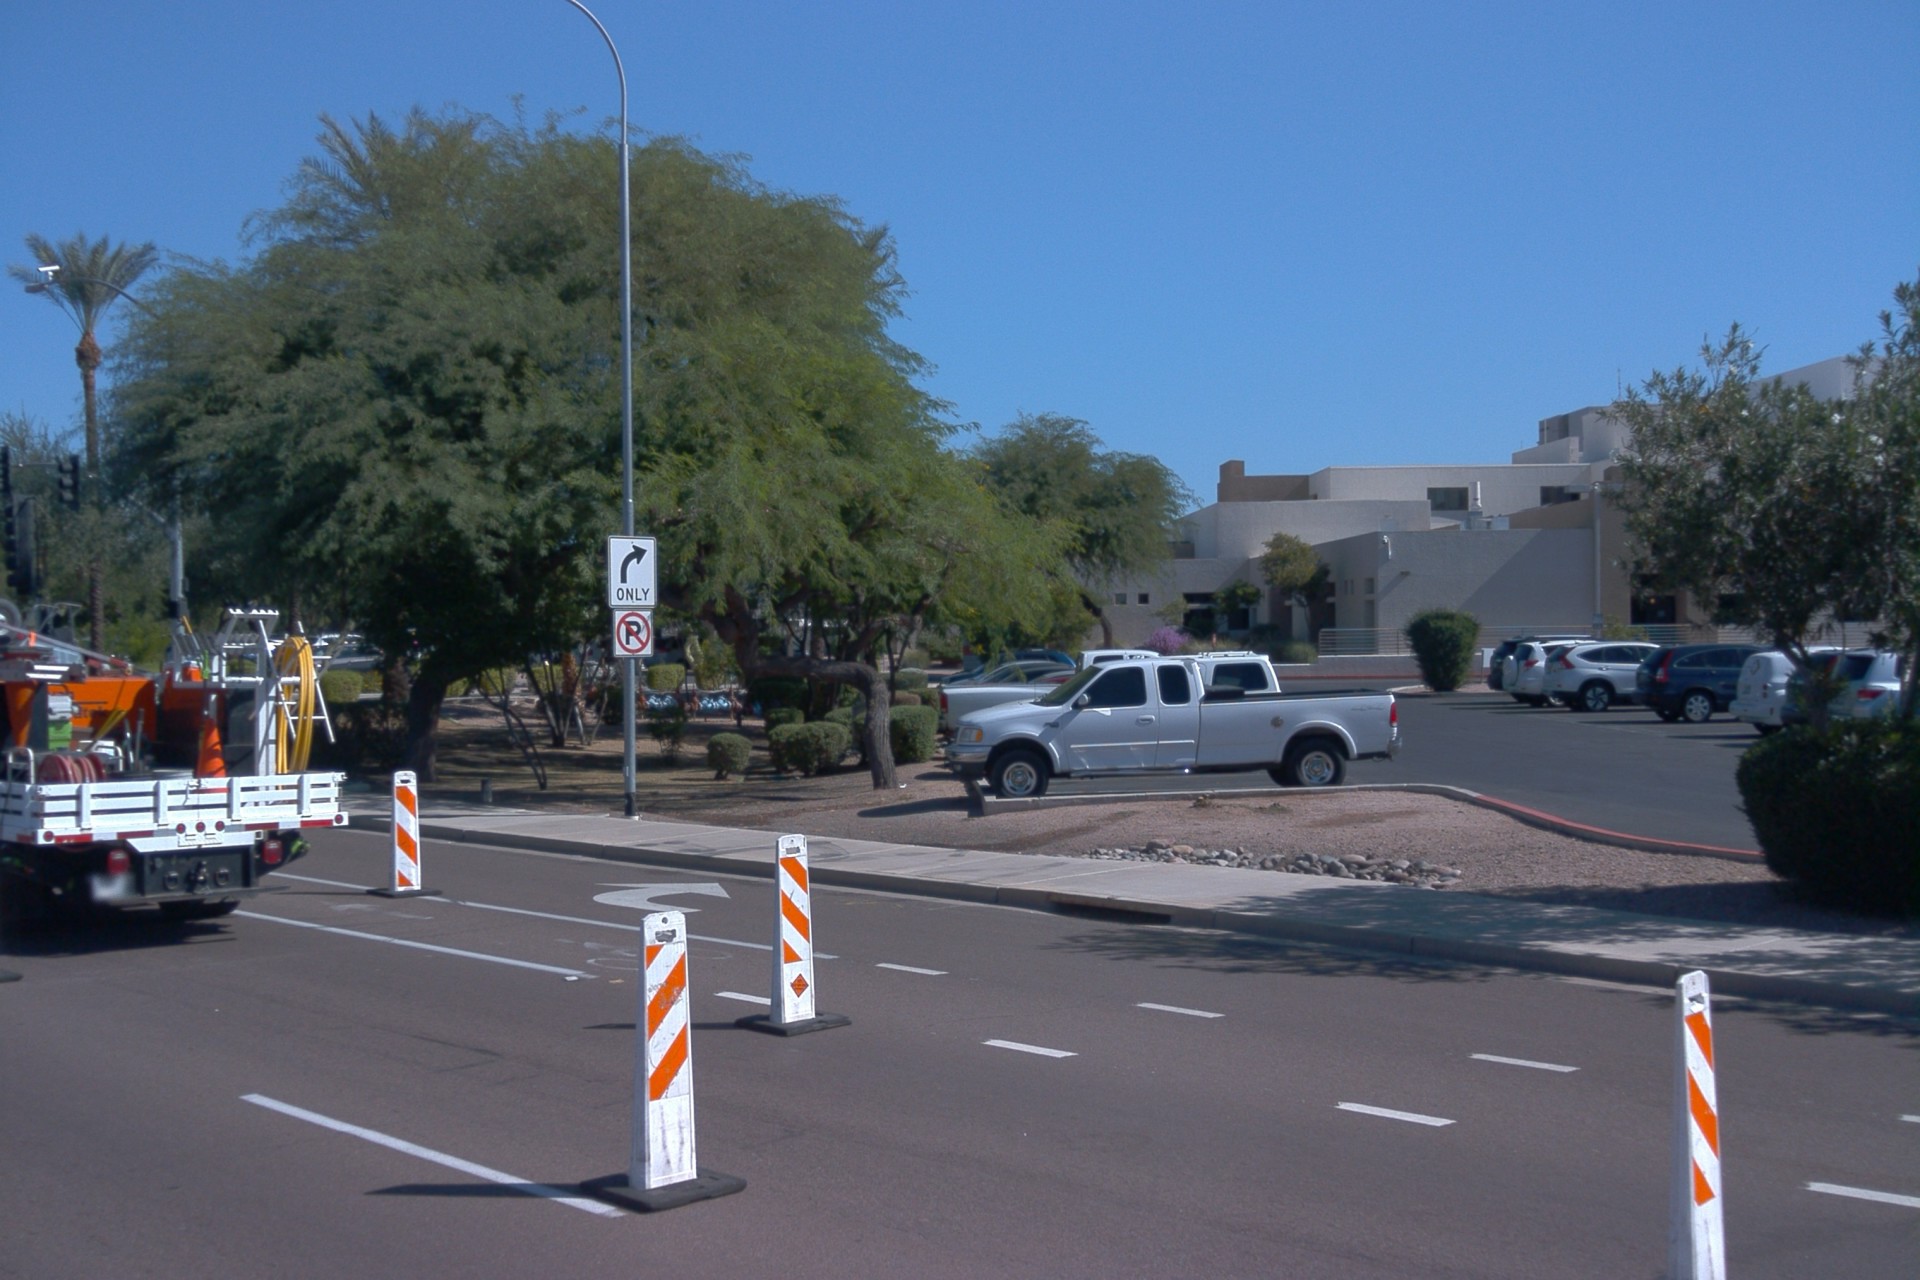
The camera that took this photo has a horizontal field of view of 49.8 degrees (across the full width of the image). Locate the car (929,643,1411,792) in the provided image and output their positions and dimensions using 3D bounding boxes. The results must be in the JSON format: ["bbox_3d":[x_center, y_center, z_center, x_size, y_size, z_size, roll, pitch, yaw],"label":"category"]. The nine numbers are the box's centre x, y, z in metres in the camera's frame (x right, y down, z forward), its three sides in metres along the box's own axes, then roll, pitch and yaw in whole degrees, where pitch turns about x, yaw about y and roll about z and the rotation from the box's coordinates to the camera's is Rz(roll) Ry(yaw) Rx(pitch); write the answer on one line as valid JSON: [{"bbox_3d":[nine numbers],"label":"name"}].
[{"bbox_3d":[2.734,1.024,28.303,6.260,1.900,2.552,0,0,-1],"label":"car"}]

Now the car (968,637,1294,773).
[{"bbox_3d":[2.704,1.034,33.793,5.073,2.110,2.301,0,0,-1],"label":"car"}]
